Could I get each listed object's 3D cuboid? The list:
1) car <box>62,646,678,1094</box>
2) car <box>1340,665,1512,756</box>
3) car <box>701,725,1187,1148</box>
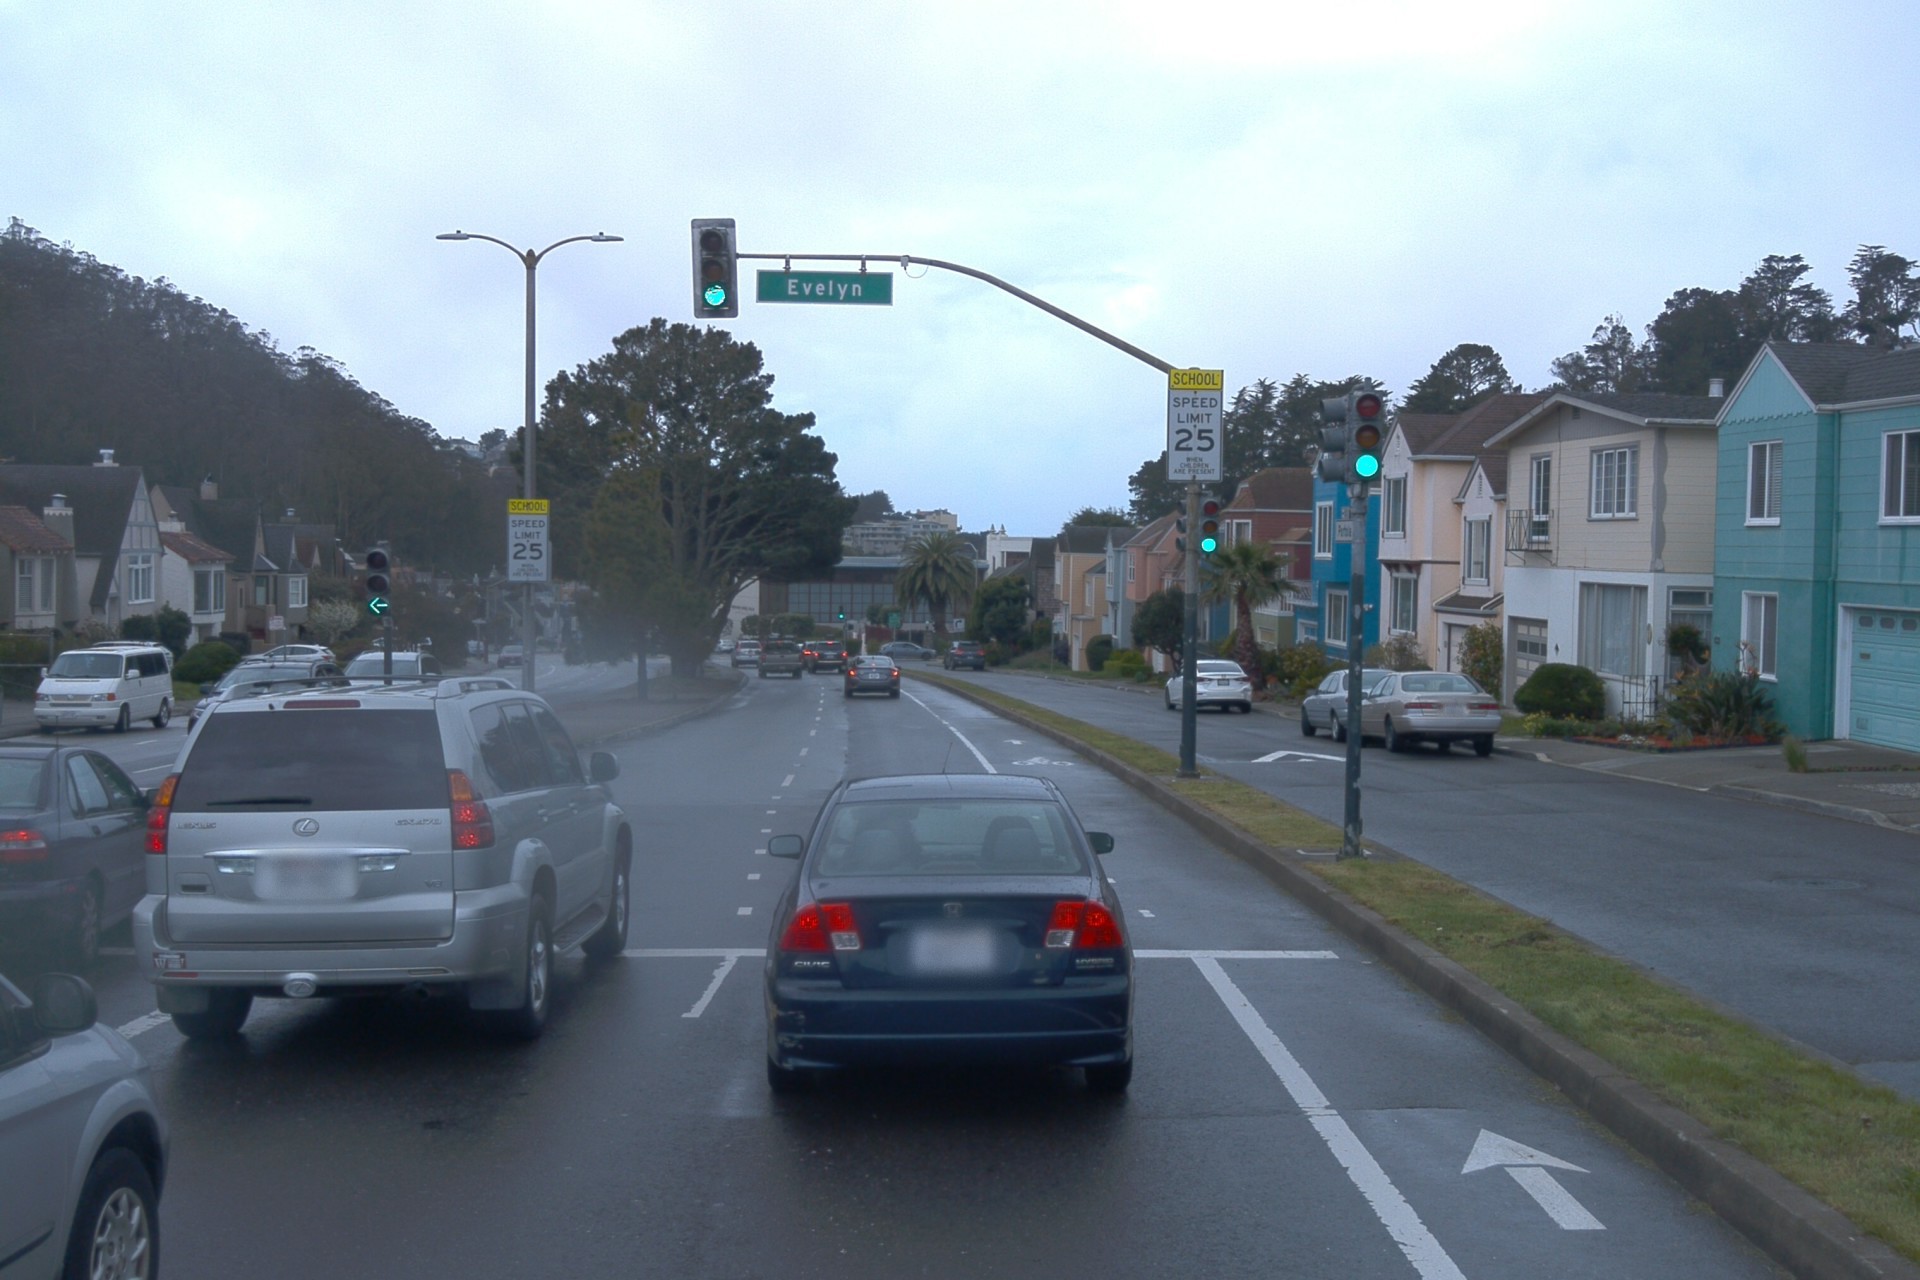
[{"bbox_3d":[-3.069,1.074,11.957,2.249,2.070,4.734,0,0,-1],"label":"car"},{"bbox_3d":[8.080,1.194,36.133,1.755,1.440,4.469,0,0,-4],"label":"car"},{"bbox_3d":[-0.108,1.306,10.589,2.004,1.570,4.164,0,0,-1],"label":"car"}]
